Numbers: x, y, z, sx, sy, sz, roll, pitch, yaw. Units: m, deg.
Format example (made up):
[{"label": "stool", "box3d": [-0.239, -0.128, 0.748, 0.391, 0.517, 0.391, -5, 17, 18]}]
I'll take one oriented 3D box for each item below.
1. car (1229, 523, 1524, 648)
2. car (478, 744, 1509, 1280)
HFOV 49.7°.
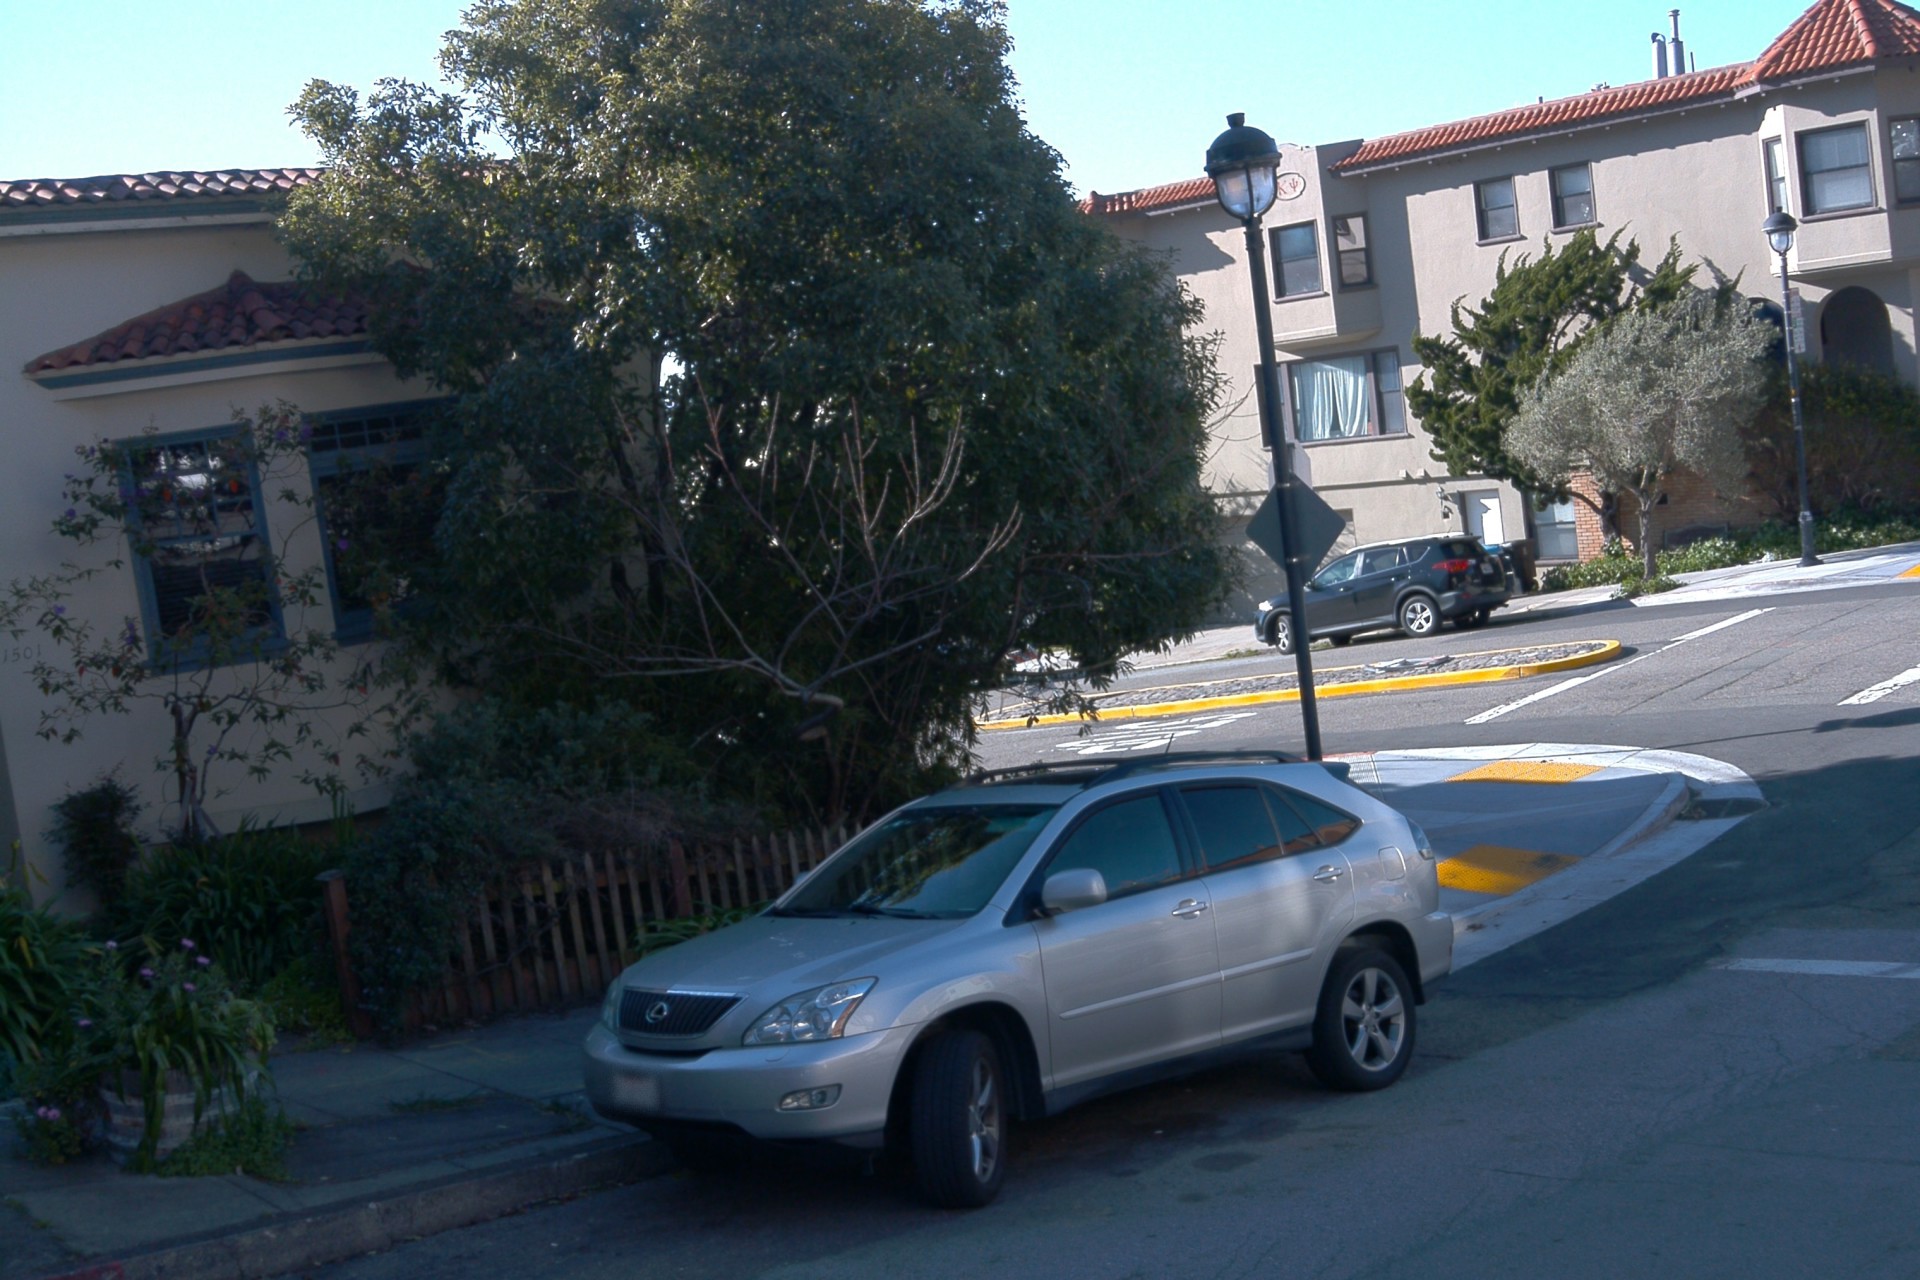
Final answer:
[{"label": "car", "box3d": [7.146, -0.876, 35.867, 2.204, 2.020, 4.526, 0, 0, -45]}, {"label": "car", "box3d": [0.356, 1.528, 9.743, 4.666, 1.810, 2.097, -1, 0, -42]}]
